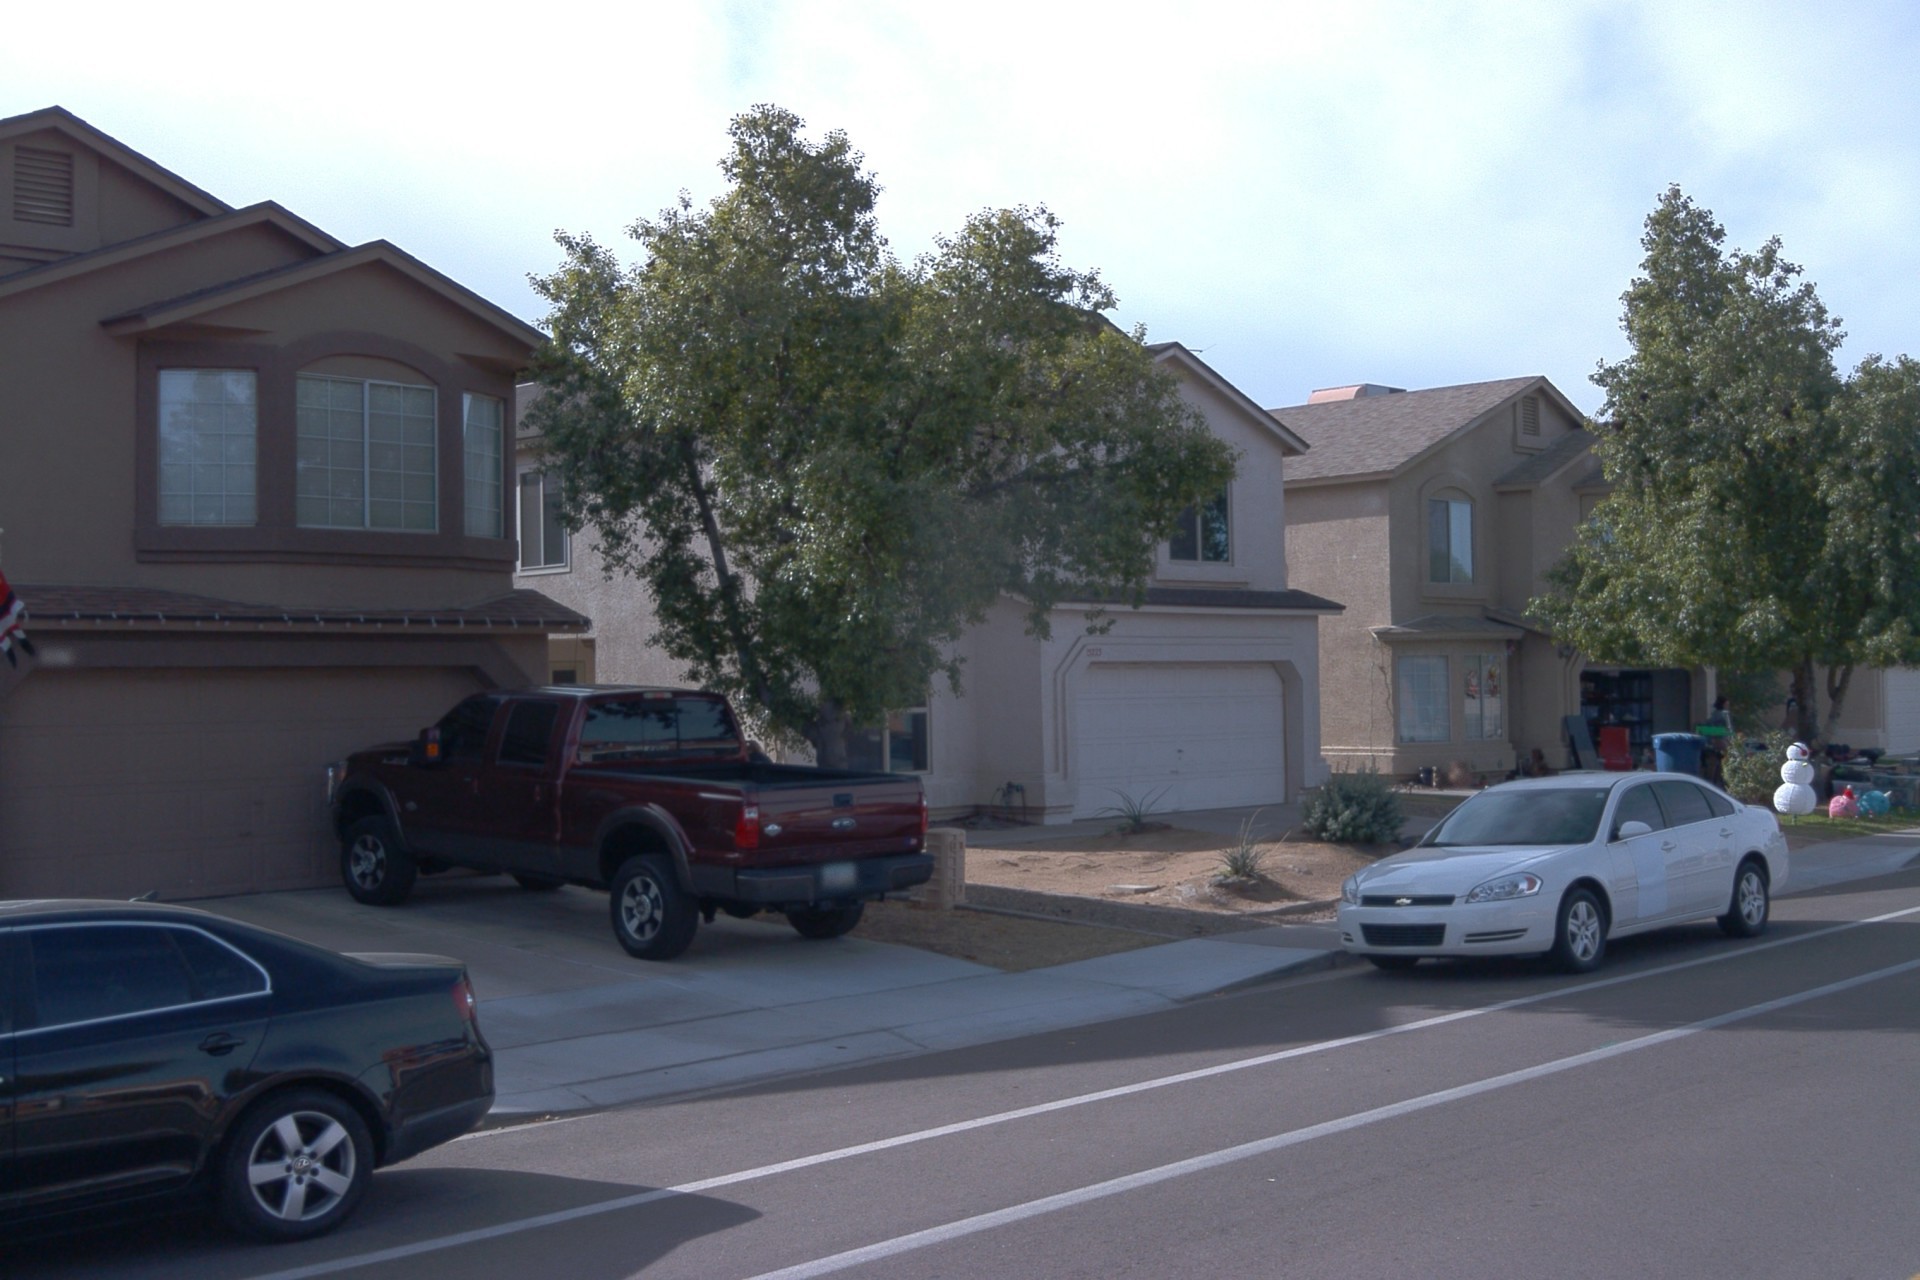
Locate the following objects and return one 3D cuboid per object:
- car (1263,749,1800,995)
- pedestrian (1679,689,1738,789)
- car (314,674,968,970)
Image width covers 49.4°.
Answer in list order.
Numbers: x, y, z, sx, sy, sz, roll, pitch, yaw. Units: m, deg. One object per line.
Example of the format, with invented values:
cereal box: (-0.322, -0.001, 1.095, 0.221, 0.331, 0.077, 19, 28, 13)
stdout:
car: (4.842, 1.765, 17.202, 5.010, 1.530, 2.056, 1, -1, -45)
pedestrian: (12.815, 1.685, 35.759, 0.870, 1.670, 0.833, 0, -1, 25)
car: (-2.953, 1.356, 17.985, 6.202, 2.090, 2.225, 0, -1, 44)
